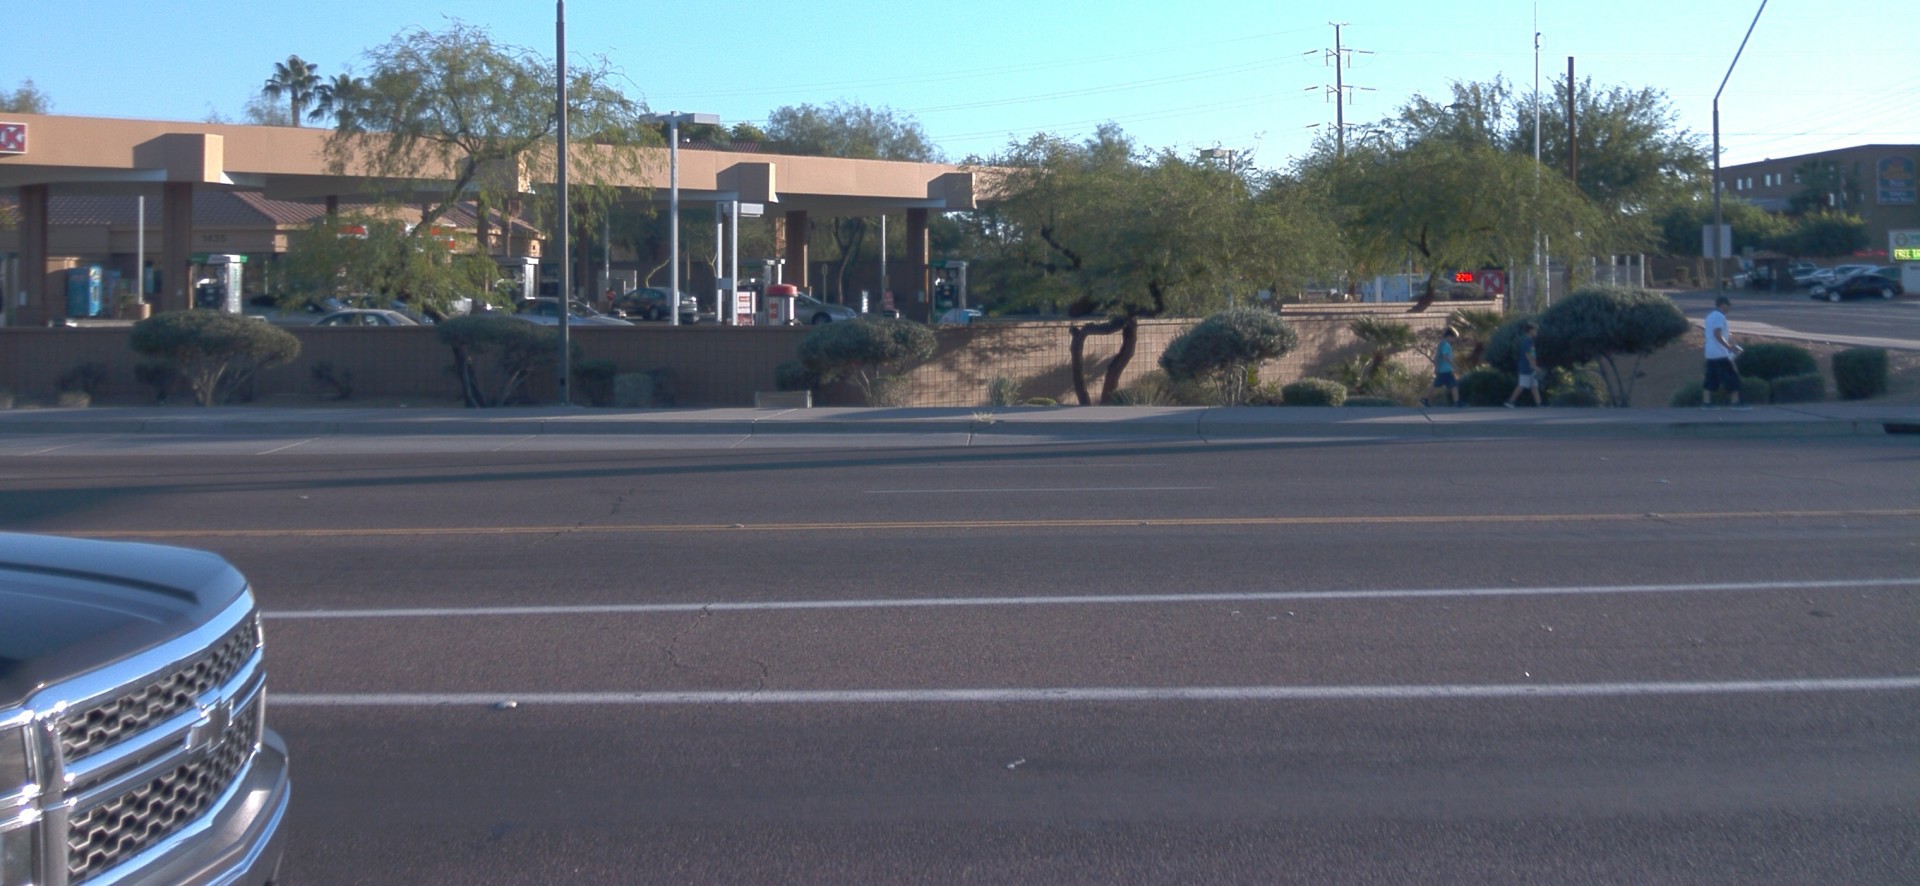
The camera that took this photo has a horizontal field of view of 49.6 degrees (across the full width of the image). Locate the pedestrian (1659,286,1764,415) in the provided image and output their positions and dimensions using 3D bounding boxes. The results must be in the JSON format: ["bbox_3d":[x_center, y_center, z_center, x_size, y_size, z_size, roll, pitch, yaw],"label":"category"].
[{"bbox_3d":[10.654,-1.326,29.458,1.152,1.777,0.862,-1,1,-1],"label":"pedestrian"}]

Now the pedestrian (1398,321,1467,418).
[{"bbox_3d":[6.866,-1.081,30.199,0.912,1.360,0.780,0,1,8],"label":"pedestrian"}]
